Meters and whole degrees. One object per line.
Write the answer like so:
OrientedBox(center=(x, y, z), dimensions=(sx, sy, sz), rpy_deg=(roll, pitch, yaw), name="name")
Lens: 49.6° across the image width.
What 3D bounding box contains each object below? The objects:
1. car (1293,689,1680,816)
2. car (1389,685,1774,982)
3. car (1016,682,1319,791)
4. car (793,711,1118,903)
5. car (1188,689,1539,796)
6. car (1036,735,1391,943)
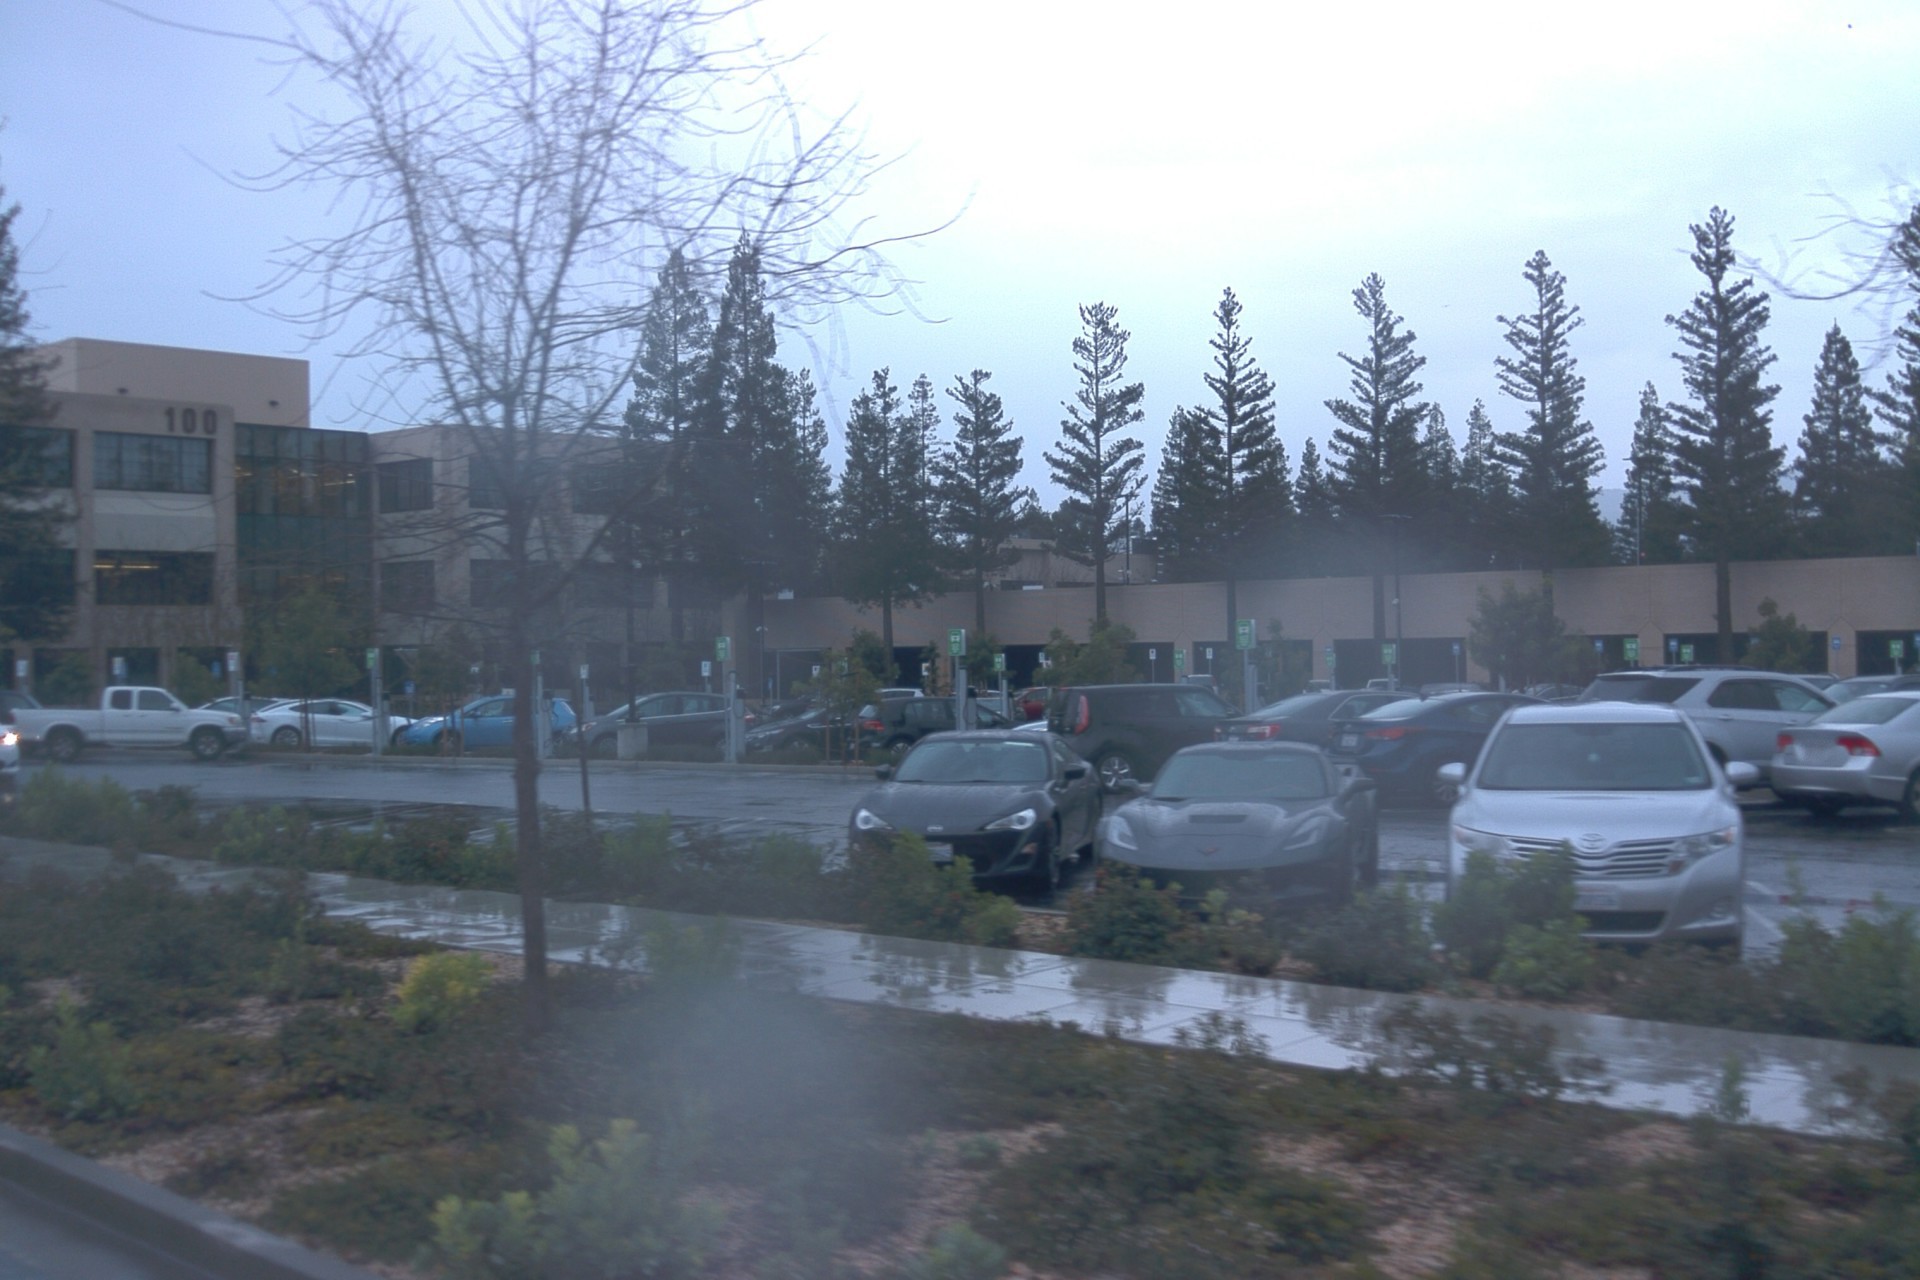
OrientedBox(center=(6.764, 1.396, 26.764), dimensions=(4.494, 1.500, 1.968), rpy_deg=(0, -1, -20), name="car")
OrientedBox(center=(4.526, 1.202, 14.924), dimensions=(2.247, 1.710, 4.766), rpy_deg=(0, -1, 19), name="car")
OrientedBox(center=(3.053, 1.392, 30.837), dimensions=(4.051, 1.520, 1.923), rpy_deg=(0, -1, -16), name="car")
OrientedBox(center=(0.102, 1.418, 18.951), dimensions=(2.010, 1.430, 4.226), rpy_deg=(0, -1, 14), name="car")
OrientedBox(center=(5.599, 1.384, 28.901), dimensions=(4.448, 1.380, 1.886), rpy_deg=(0, -1, -20), name="car")
OrientedBox(center=(2.243, 1.512, 17.111), dimensions=(2.186, 1.300, 4.497), rpy_deg=(0, -1, 17), name="car")
